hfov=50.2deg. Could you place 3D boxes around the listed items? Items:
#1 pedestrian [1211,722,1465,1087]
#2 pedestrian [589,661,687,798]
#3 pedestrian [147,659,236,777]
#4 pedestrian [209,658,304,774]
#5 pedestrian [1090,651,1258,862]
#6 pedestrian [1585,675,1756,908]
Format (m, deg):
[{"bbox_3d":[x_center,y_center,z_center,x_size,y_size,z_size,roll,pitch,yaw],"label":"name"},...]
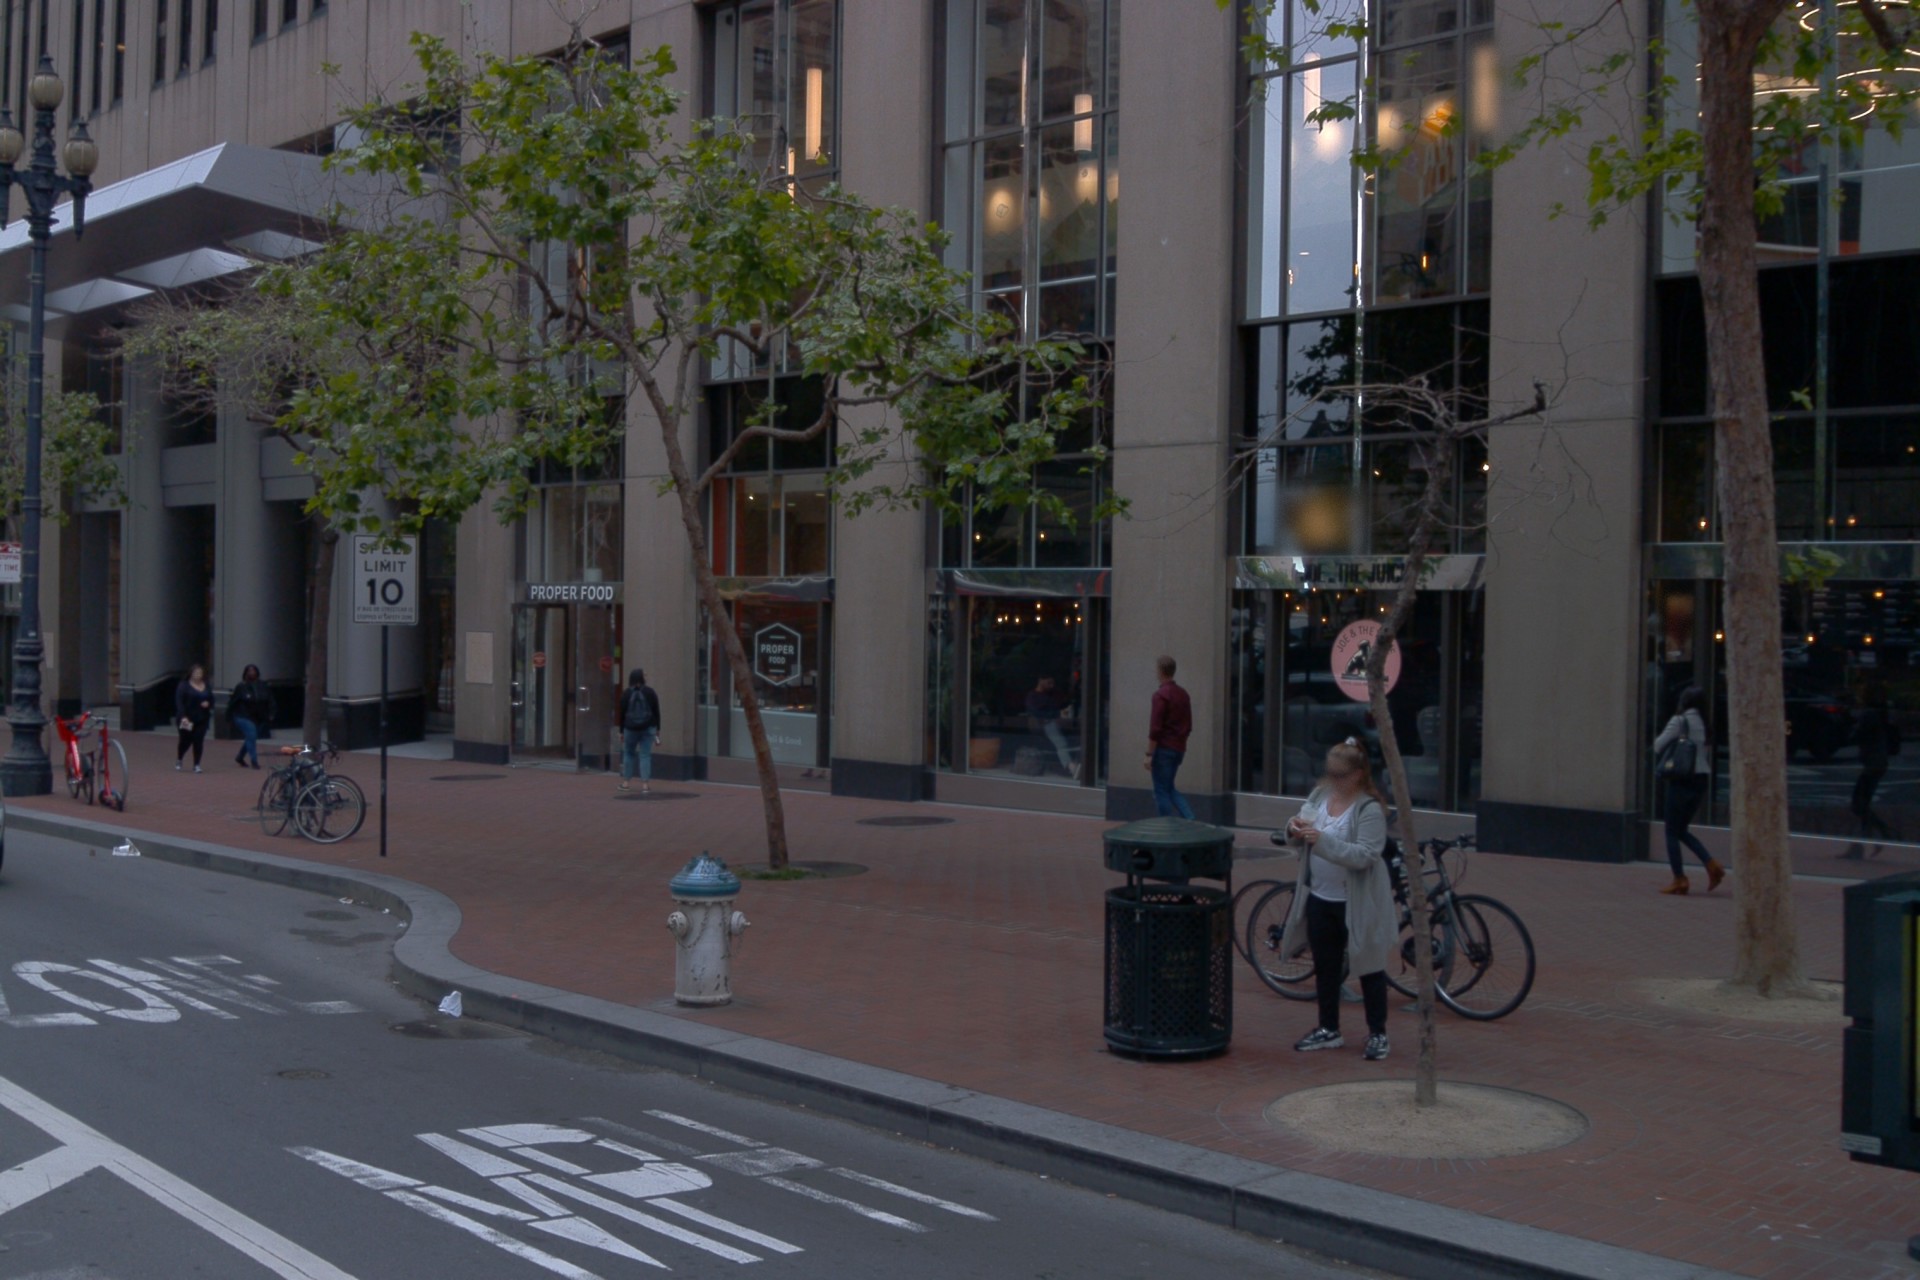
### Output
[{"bbox_3d":[1.935,1.297,10.495,0.912,1.700,0.909,0,0,-42],"label":"pedestrian"},{"bbox_3d":[-4.153,1.134,26.393,0.846,1.710,0.984,0,0,-41],"label":"pedestrian"},{"bbox_3d":[-11.433,1.142,30.481,0.894,1.710,1.015,0,0,-45],"label":"pedestrian"},{"bbox_3d":[-10.660,1.128,31.029,0.901,1.700,1.319,0,0,-43],"label":"pedestrian"},{"bbox_3d":[2.031,1.069,19.485,1.272,1.910,0.944,0,0,42],"label":"pedestrian"},{"bbox_3d":[5.521,1.138,15.919,0.897,1.710,0.942,0,0,-43],"label":"pedestrian"}]
